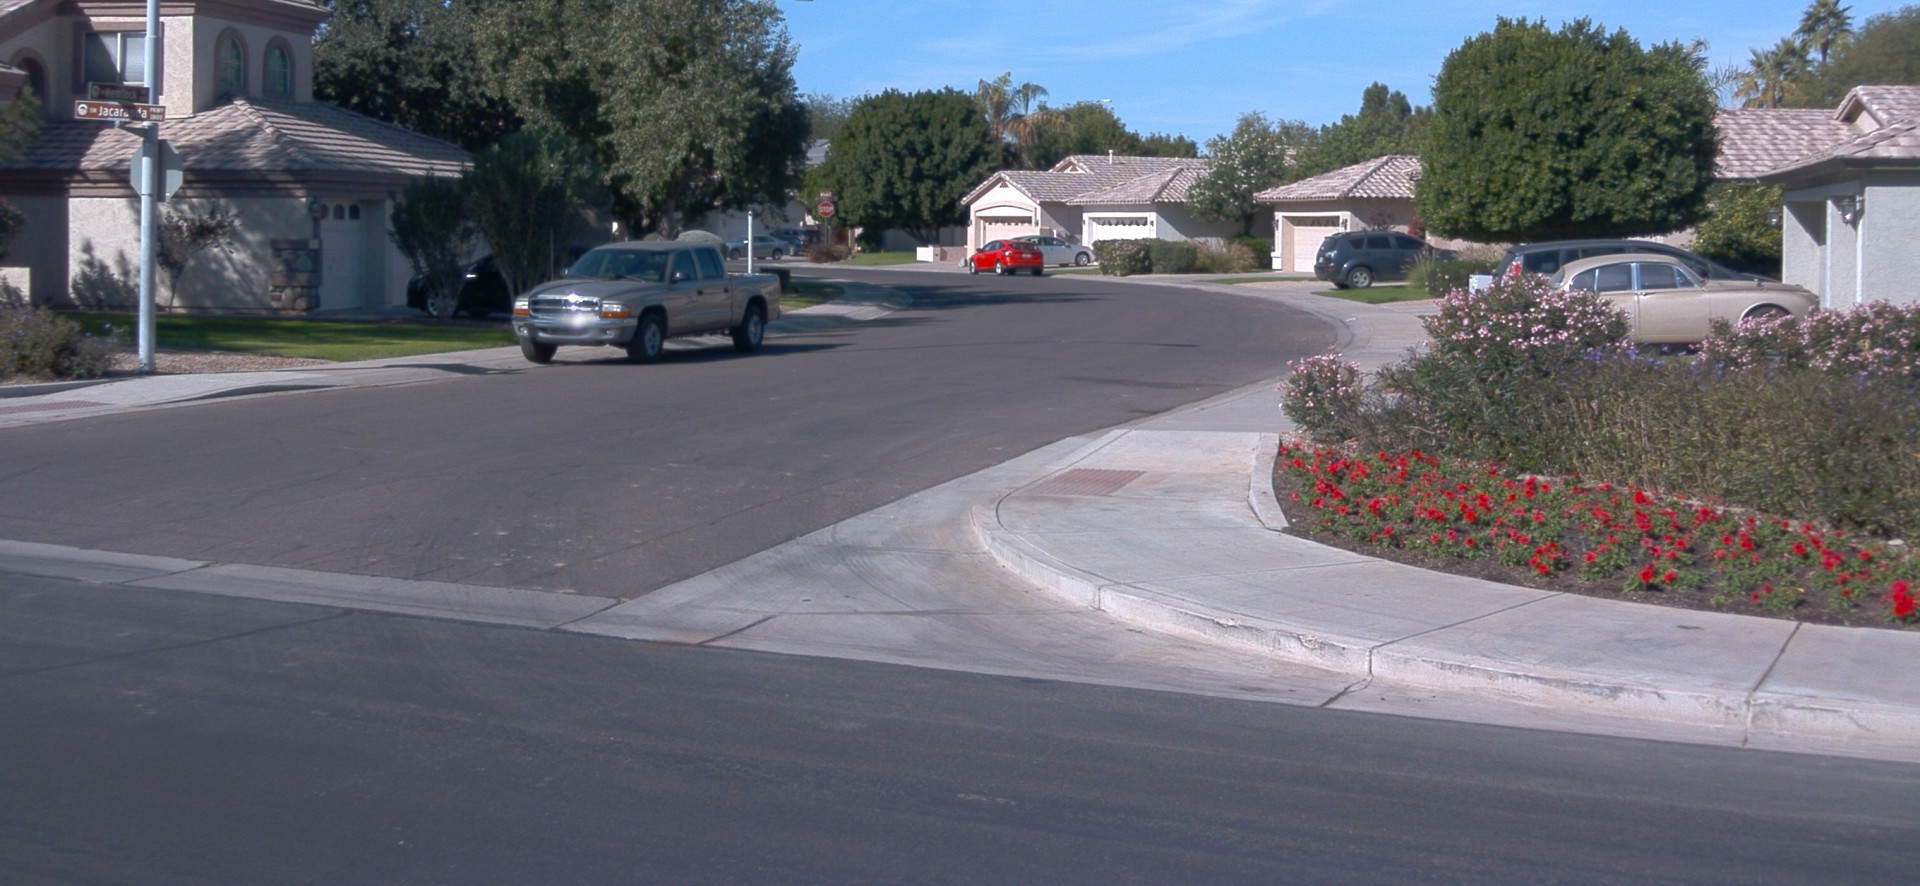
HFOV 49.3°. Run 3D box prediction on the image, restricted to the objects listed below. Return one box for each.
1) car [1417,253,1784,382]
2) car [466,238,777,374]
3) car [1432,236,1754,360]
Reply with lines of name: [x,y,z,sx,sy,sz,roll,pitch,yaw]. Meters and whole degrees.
car: [9.063,-1.839,29.899,4.840,1.686,2.138,2,4,14]
car: [-4.827,-2.112,30.876,2.205,1.783,5.606,2,5,18]
car: [9.707,-2.287,32.396,4.577,1.807,1.864,1,3,9]
